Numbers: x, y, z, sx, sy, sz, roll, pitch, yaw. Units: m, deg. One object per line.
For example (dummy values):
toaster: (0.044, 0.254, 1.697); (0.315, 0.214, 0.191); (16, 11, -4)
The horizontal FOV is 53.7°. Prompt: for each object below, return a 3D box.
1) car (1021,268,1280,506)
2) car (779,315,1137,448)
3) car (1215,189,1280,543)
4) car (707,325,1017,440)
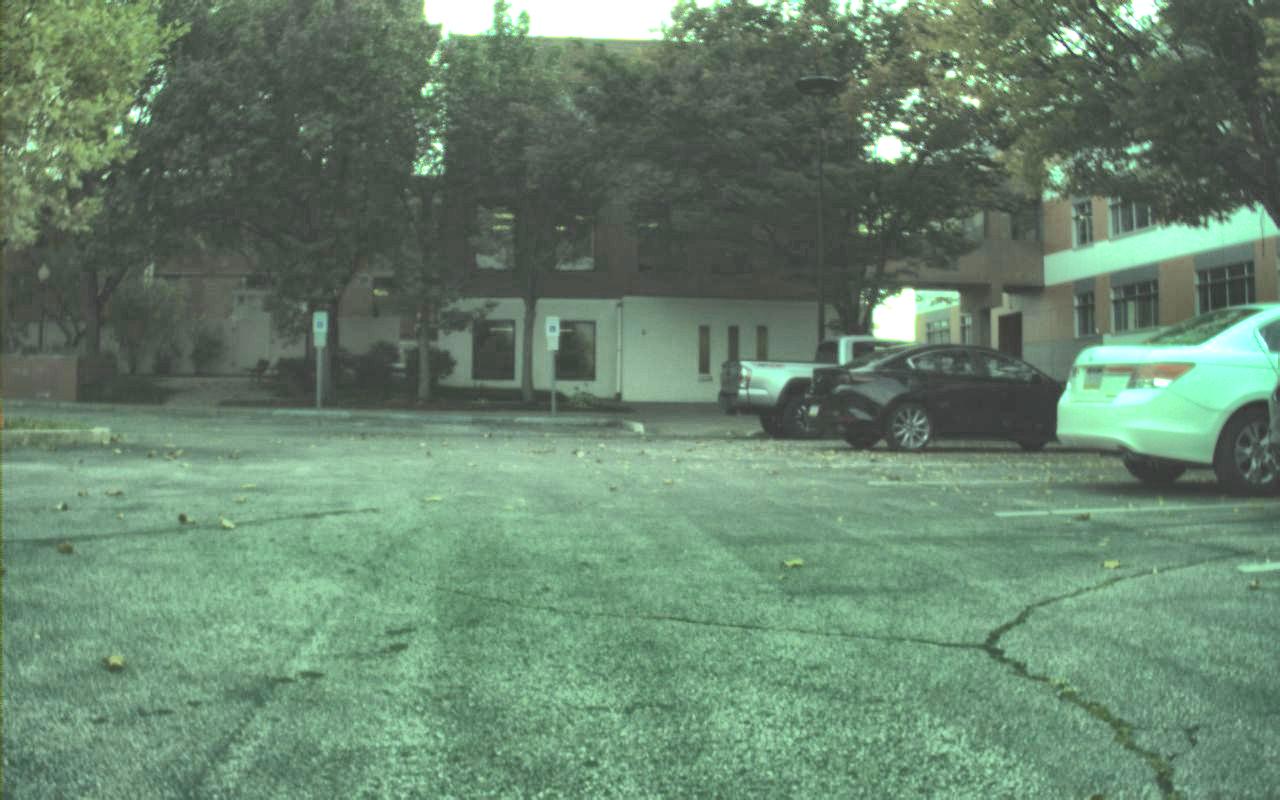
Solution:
car: (5.405, -0.086, 8.954); (4.567, 1.561, 1.937); (0, 1, -6)
car: (4.348, -0.247, 16.597); (4.604, 1.600, 1.962); (0, 1, -16)
car: (5.865, -0.192, 6.401); (4.418, 1.655, 1.951); (0, 1, -6)
car: (3.797, -0.298, 21.491); (5.018, 1.845, 2.078); (0, 1, -7)
